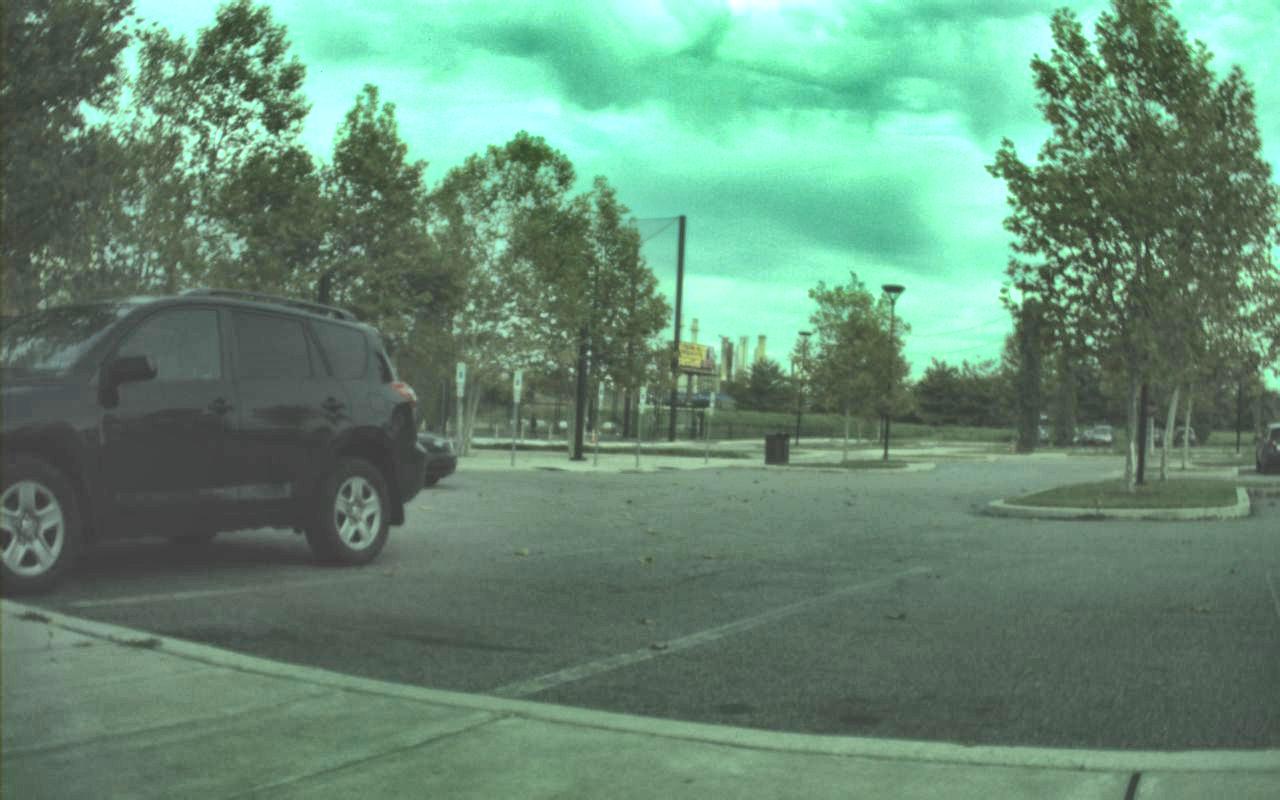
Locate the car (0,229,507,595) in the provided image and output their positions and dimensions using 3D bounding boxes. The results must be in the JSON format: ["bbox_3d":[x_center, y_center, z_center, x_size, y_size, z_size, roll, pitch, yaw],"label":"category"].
[{"bbox_3d":[-2.853,0.013,7.276,1.945,1.636,4.521,1,1,27],"label":"car"}]

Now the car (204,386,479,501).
[{"bbox_3d":[-5.156,0.644,20.706,4.617,1.647,2.040,1,1,29],"label":"car"}]
